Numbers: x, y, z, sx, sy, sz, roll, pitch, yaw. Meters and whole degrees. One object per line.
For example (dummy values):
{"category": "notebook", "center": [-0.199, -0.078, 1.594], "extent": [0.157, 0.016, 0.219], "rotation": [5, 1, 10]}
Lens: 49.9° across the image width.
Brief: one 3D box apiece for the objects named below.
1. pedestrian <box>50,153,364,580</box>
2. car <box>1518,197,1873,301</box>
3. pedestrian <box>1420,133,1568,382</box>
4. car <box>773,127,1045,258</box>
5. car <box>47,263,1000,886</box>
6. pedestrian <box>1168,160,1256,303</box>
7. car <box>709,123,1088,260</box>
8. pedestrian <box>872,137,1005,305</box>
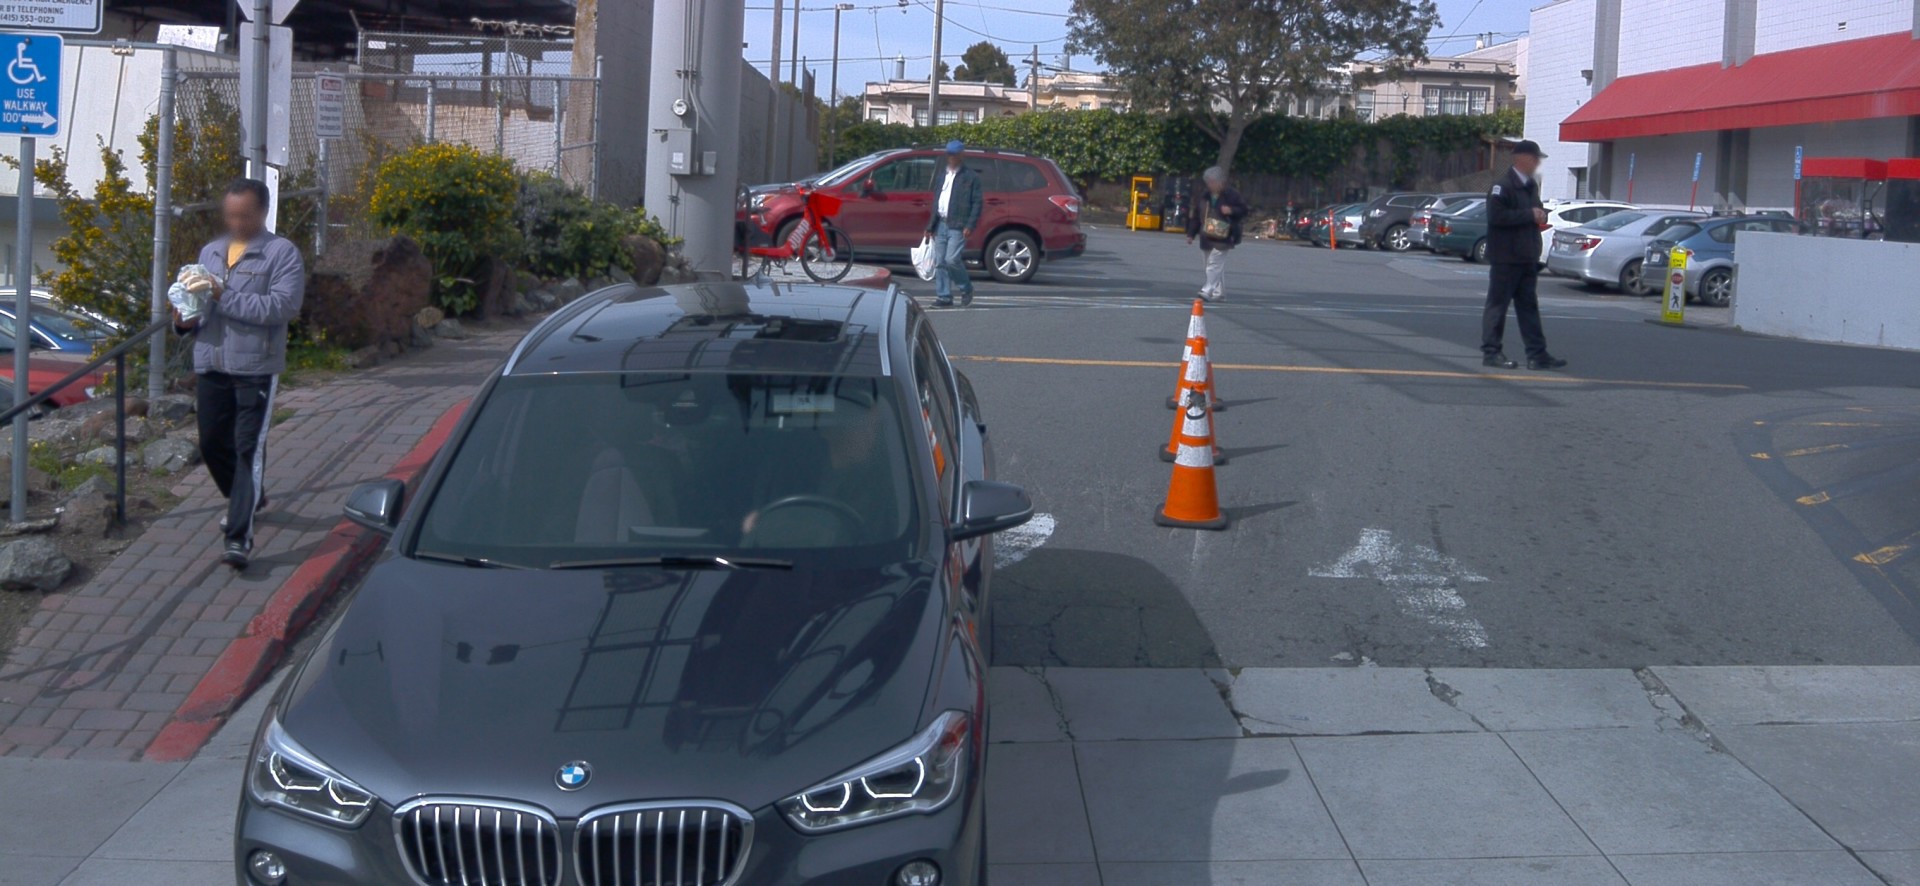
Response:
{"category": "pedestrian", "center": [-3.241, -0.368, 8.994], "extent": [0.943, 1.743, 1.078], "rotation": [0, 2, 2]}
{"category": "car", "center": [12.824, -3.414, 36.265], "extent": [5.373, 1.766, 2.394], "rotation": [0, 4, -2]}
{"category": "pedestrian", "center": [4.261, -1.487, 16.501], "extent": [0.825, 1.920, 0.797], "rotation": [0, 1, -27]}
{"category": "car", "center": [-0.750, -3.631, 30.111], "extent": [3.837, 1.847, 1.948], "rotation": [0, 3, -2]}
{"category": "car", "center": [-0.936, 0.363, 6.838], "extent": [2.123, 1.863, 4.489], "rotation": [0, 5, 1]}
{"category": "pedestrian", "center": [3.034, -2.545, 24.830], "extent": [0.869, 1.685, 0.833], "rotation": [0, 1, 21]}
{"category": "car", "center": [-0.811, -3.284, 27.193], "extent": [4.792, 1.717, 2.140], "rotation": [0, 3, -2]}
{"category": "pedestrian", "center": [-0.215, -2.277, 21.198], "extent": [1.009, 1.670, 0.952], "rotation": [1, 2, 32]}
